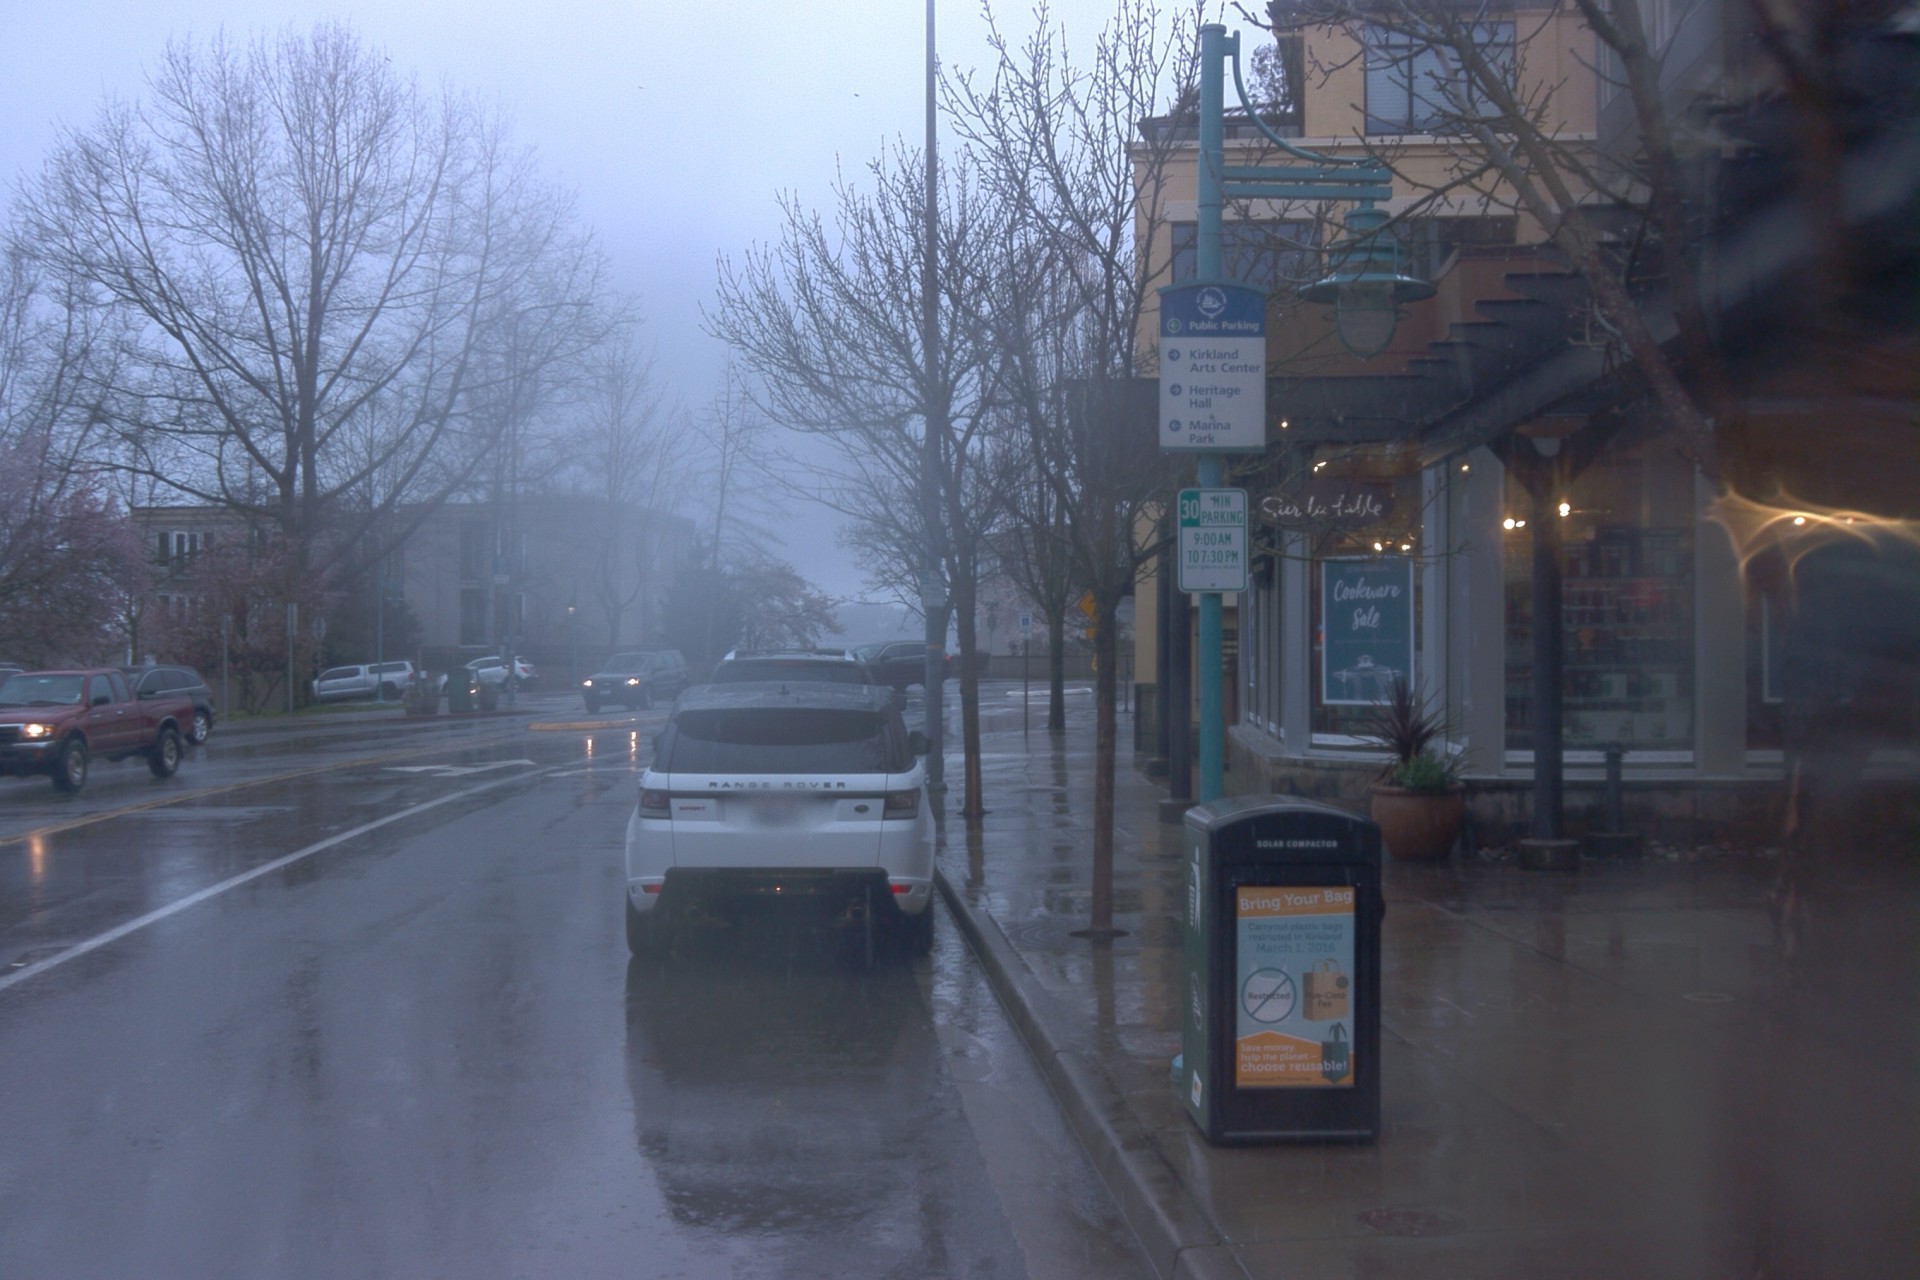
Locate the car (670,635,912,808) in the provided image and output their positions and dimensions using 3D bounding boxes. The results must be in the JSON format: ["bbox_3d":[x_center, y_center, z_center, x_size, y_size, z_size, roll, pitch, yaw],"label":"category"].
[{"bbox_3d":[-1.786,0.754,21.510,2.210,1.560,5.097,1,0,-5],"label":"car"}]

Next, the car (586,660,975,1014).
[{"bbox_3d":[-1.281,1.202,14.693,2.266,2.000,5.124,1,0,-5],"label":"car"}]
